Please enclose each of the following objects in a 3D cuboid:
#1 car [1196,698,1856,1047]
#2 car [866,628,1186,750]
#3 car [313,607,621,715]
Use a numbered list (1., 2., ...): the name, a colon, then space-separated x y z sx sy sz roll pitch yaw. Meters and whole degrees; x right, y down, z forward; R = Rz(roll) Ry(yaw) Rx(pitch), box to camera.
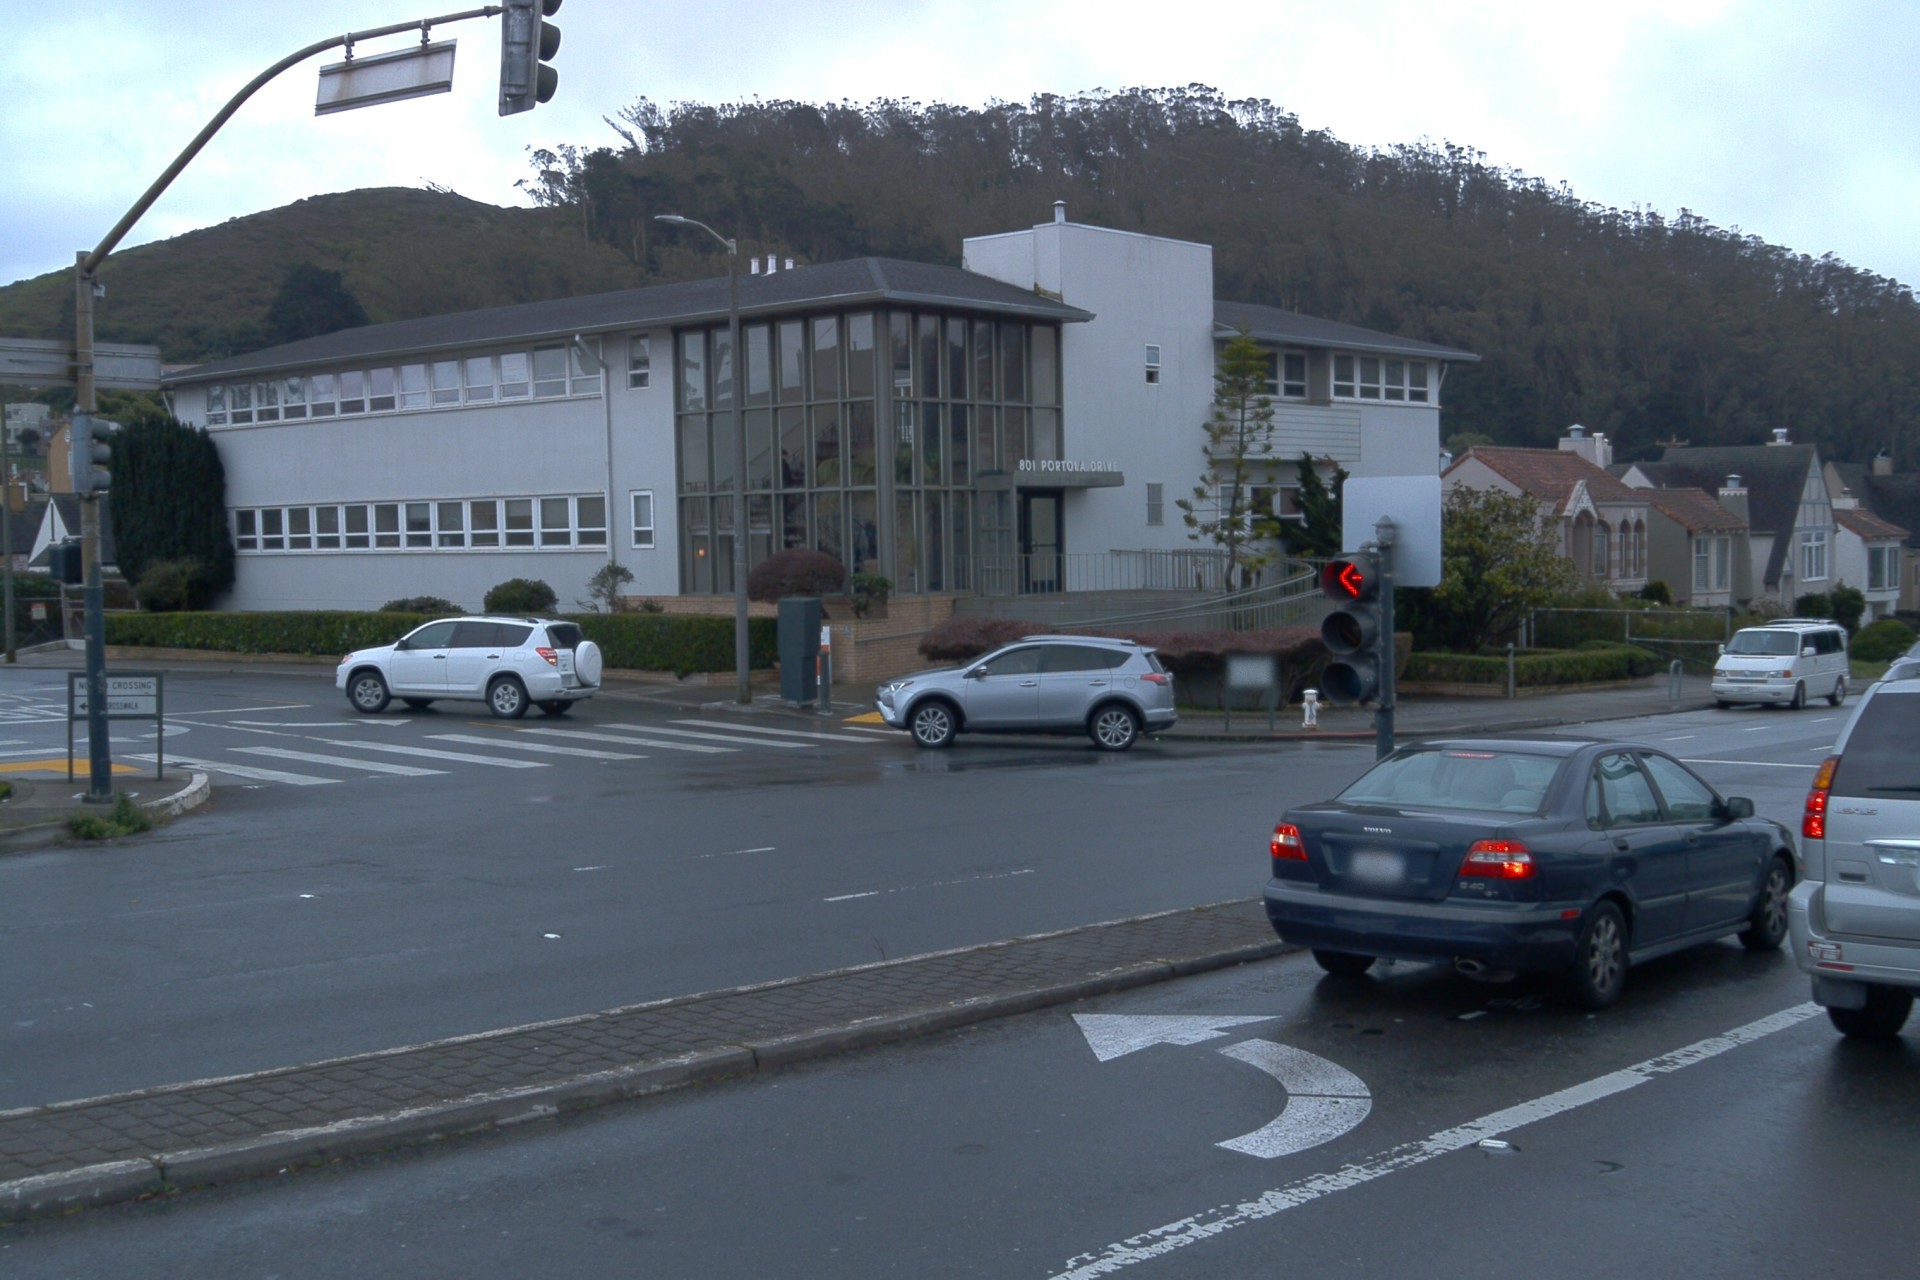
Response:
1. car: 3.469 1.177 12.053 1.961 1.500 4.296 1 1 43
2. car: 0.968 0.714 31.019 4.660 1.740 2.198 0 1 0
3. car: -8.396 0.318 34.968 4.736 1.740 2.054 1 1 19
